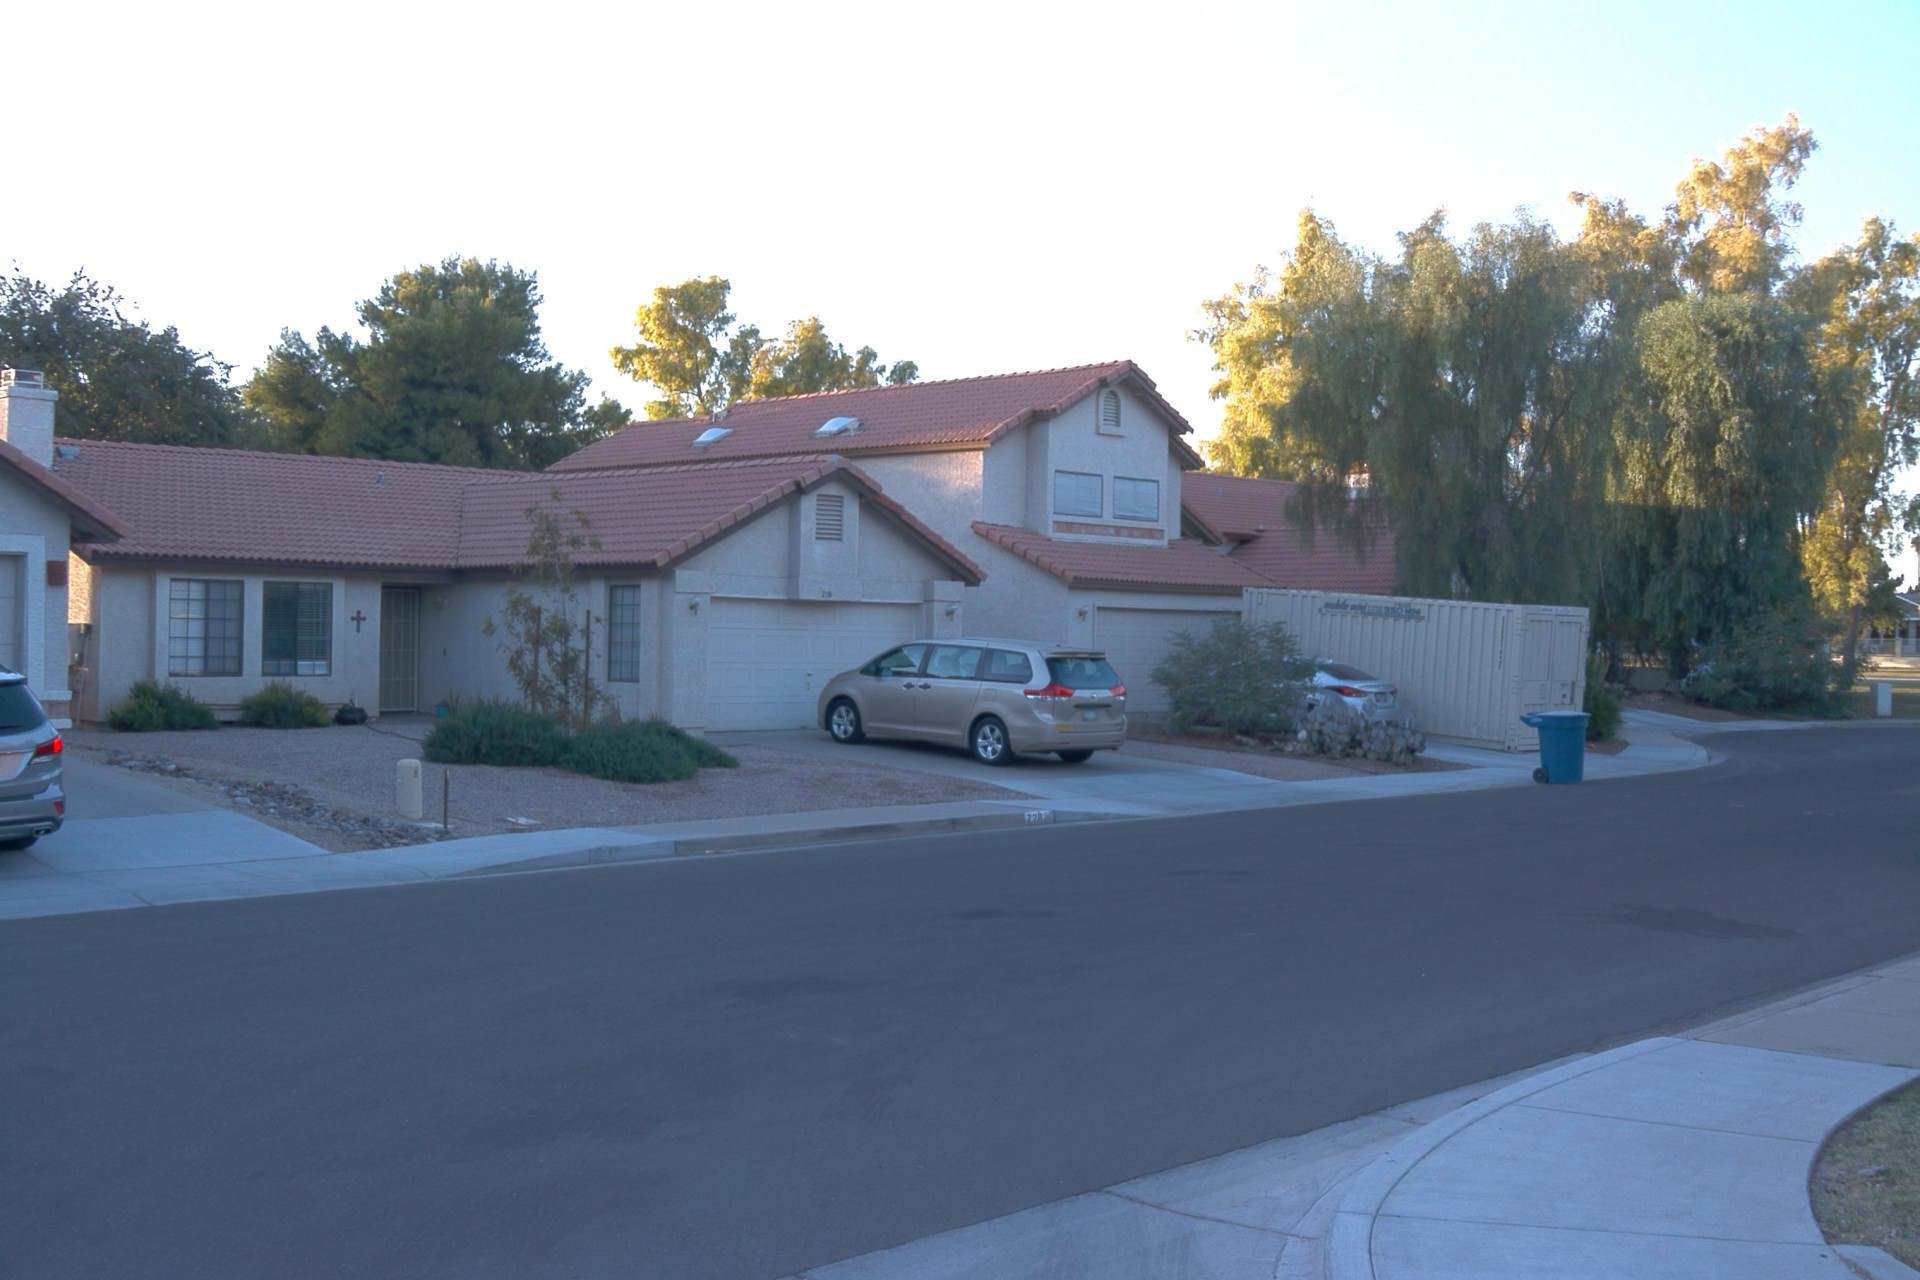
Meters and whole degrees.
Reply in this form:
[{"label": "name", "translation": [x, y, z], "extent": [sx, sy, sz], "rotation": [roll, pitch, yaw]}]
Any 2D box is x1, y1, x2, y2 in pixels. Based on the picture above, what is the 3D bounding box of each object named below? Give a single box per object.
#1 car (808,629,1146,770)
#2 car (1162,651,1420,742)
[{"label": "car", "translation": [0.177, 0.822, 30.634], "extent": [4.850, 1.910, 2.173], "rotation": [0, -1, 45]}, {"label": "car", "translation": [6.002, 0.990, 37.984], "extent": [4.304, 1.560, 2.021], "rotation": [0, -1, 45]}]
